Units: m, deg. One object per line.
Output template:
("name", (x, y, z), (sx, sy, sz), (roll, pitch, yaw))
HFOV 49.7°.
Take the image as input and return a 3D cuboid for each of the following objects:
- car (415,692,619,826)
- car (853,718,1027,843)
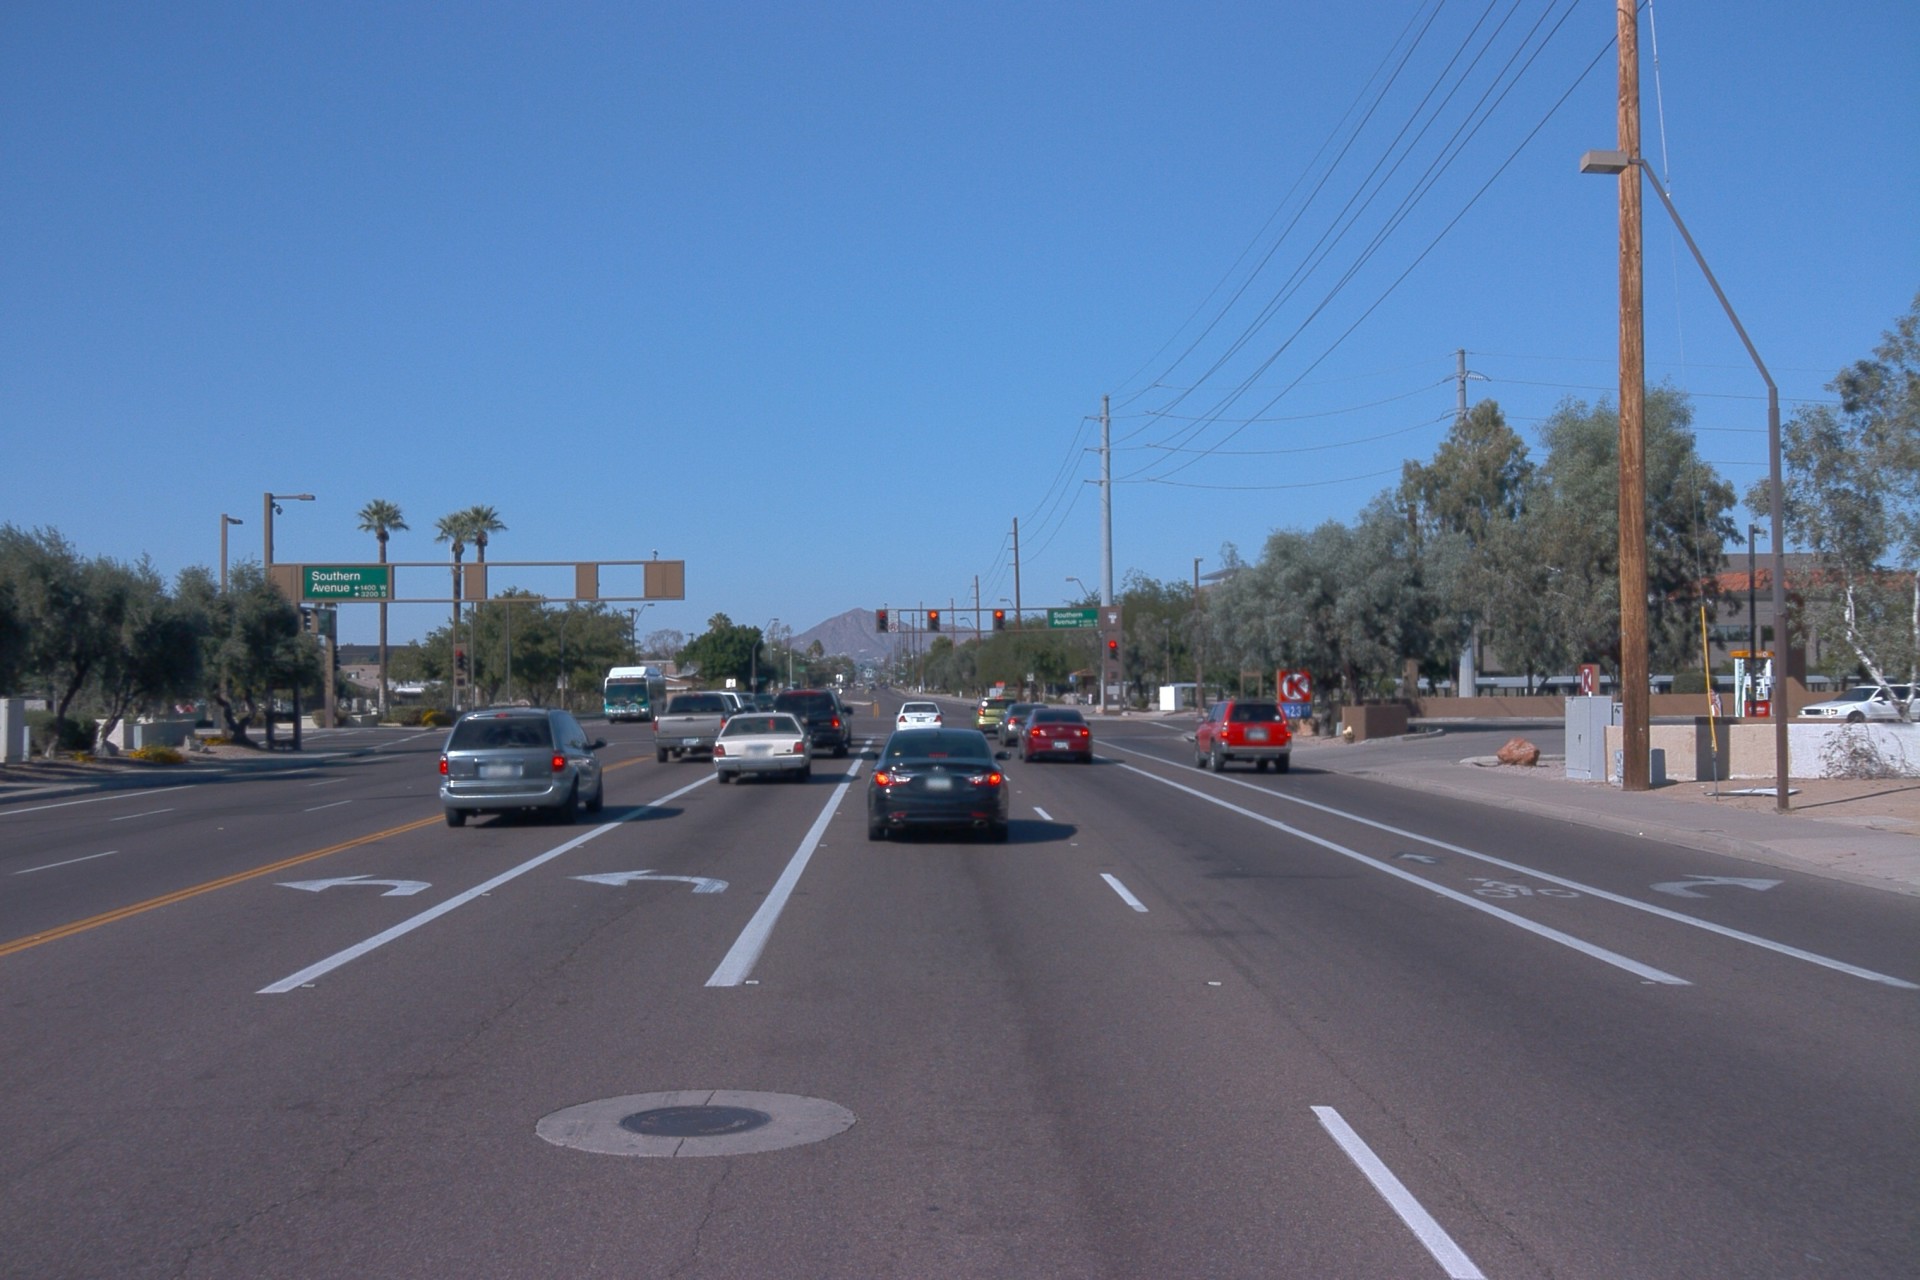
("car", (-6.710, 1.760, 31.987), (2.263, 1.880, 4.994), (0, -1, -2))
("car", (-0.287, 1.849, 28.307), (2.156, 1.470, 4.806), (0, -1, -1))
